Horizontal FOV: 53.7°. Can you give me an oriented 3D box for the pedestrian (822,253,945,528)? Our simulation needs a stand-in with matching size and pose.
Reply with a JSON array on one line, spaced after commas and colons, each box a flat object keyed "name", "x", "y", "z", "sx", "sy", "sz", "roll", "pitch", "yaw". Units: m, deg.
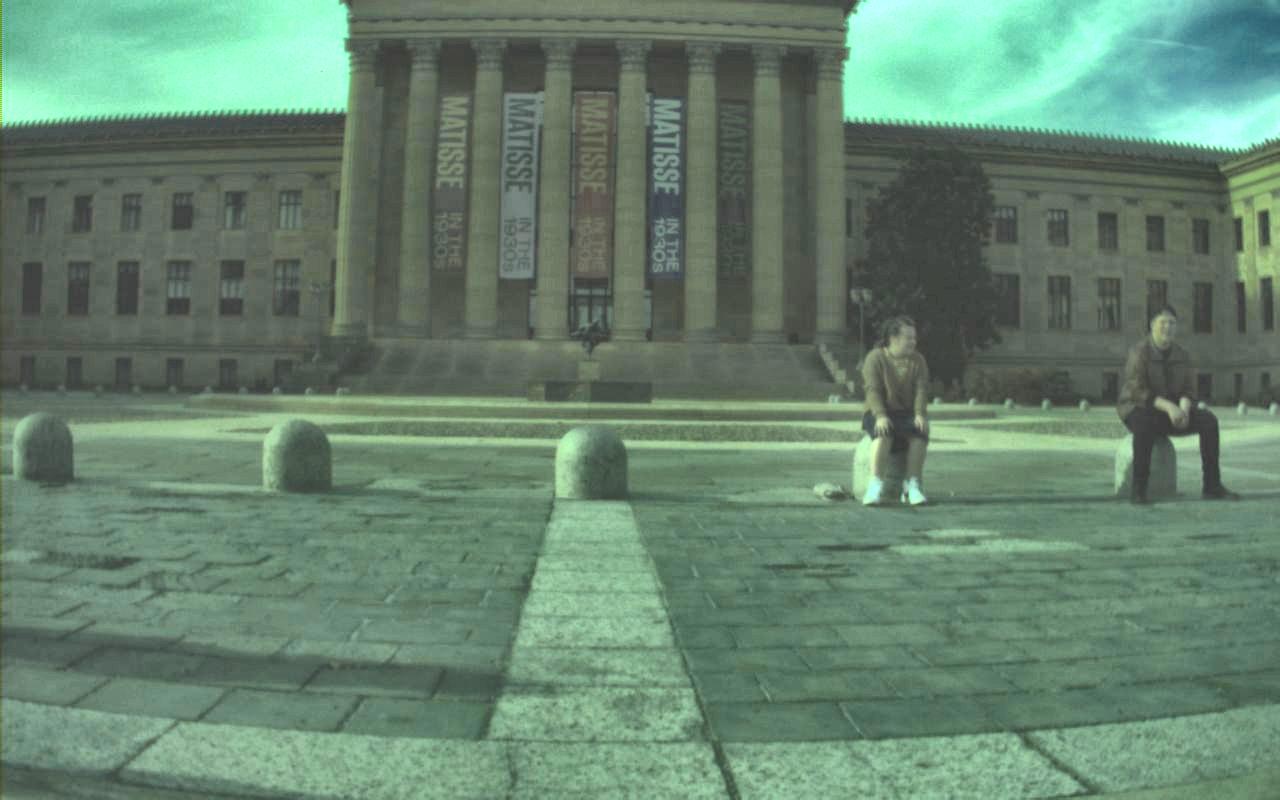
[{"name": "pedestrian", "x": 1.540, "y": -0.061, "z": 7.934, "sx": 0.741, "sy": 1.674, "sz": 0.748, "roll": 0, "pitch": 0, "yaw": 9}]

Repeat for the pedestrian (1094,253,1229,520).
[{"name": "pedestrian", "x": 3.489, "y": -0.077, "z": 7.853, "sx": 0.725, "sy": 1.698, "sz": 0.743, "roll": 0, "pitch": 0, "yaw": 2}]
